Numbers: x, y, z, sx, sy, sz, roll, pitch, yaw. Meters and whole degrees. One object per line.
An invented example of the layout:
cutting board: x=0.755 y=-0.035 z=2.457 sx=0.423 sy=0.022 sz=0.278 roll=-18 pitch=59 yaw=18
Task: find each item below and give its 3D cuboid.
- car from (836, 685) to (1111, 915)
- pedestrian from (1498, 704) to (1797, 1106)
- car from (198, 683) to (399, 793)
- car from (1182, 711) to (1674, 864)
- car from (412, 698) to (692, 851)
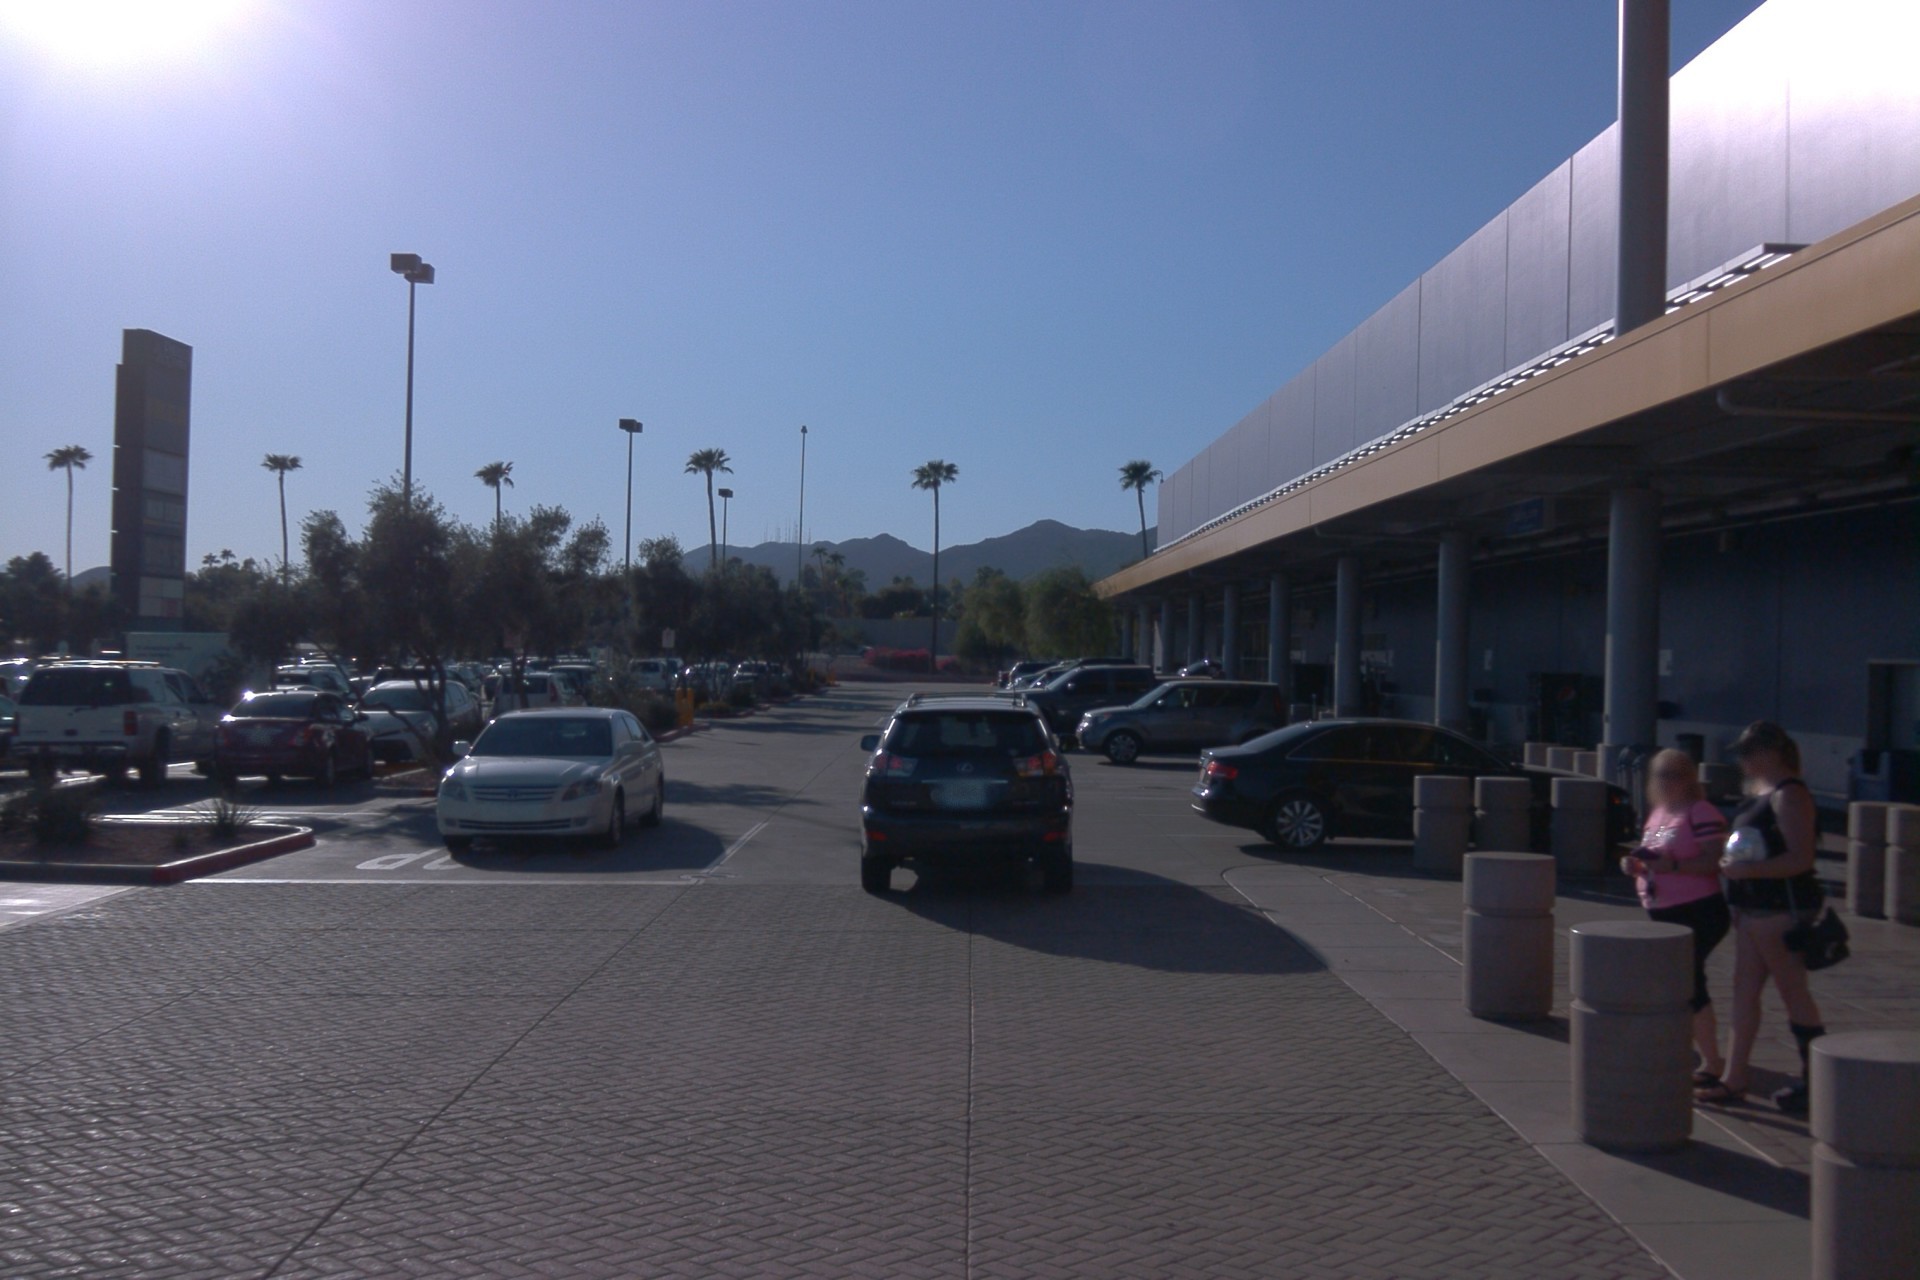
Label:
car: x=0.116 y=1.340 z=19.063 sx=2.201 sy=1.770 sz=4.572 roll=1 pitch=0 yaw=0
pedestrian: x=3.294 y=1.232 z=10.060 sx=1.000 sy=1.810 sz=1.000 roll=1 pitch=0 yaw=-9
car: x=-10.441 y=1.504 z=33.179 sx=1.866 sy=1.580 sz=4.286 roll=1 pitch=0 yaw=0
car: x=4.899 y=1.541 z=22.341 sx=4.792 sy=1.460 sz=2.078 roll=1 pitch=0 yaw=0
car: x=-4.458 y=1.434 z=23.588 sx=2.148 sy=1.440 sz=4.950 roll=1 pitch=-1 yaw=0
